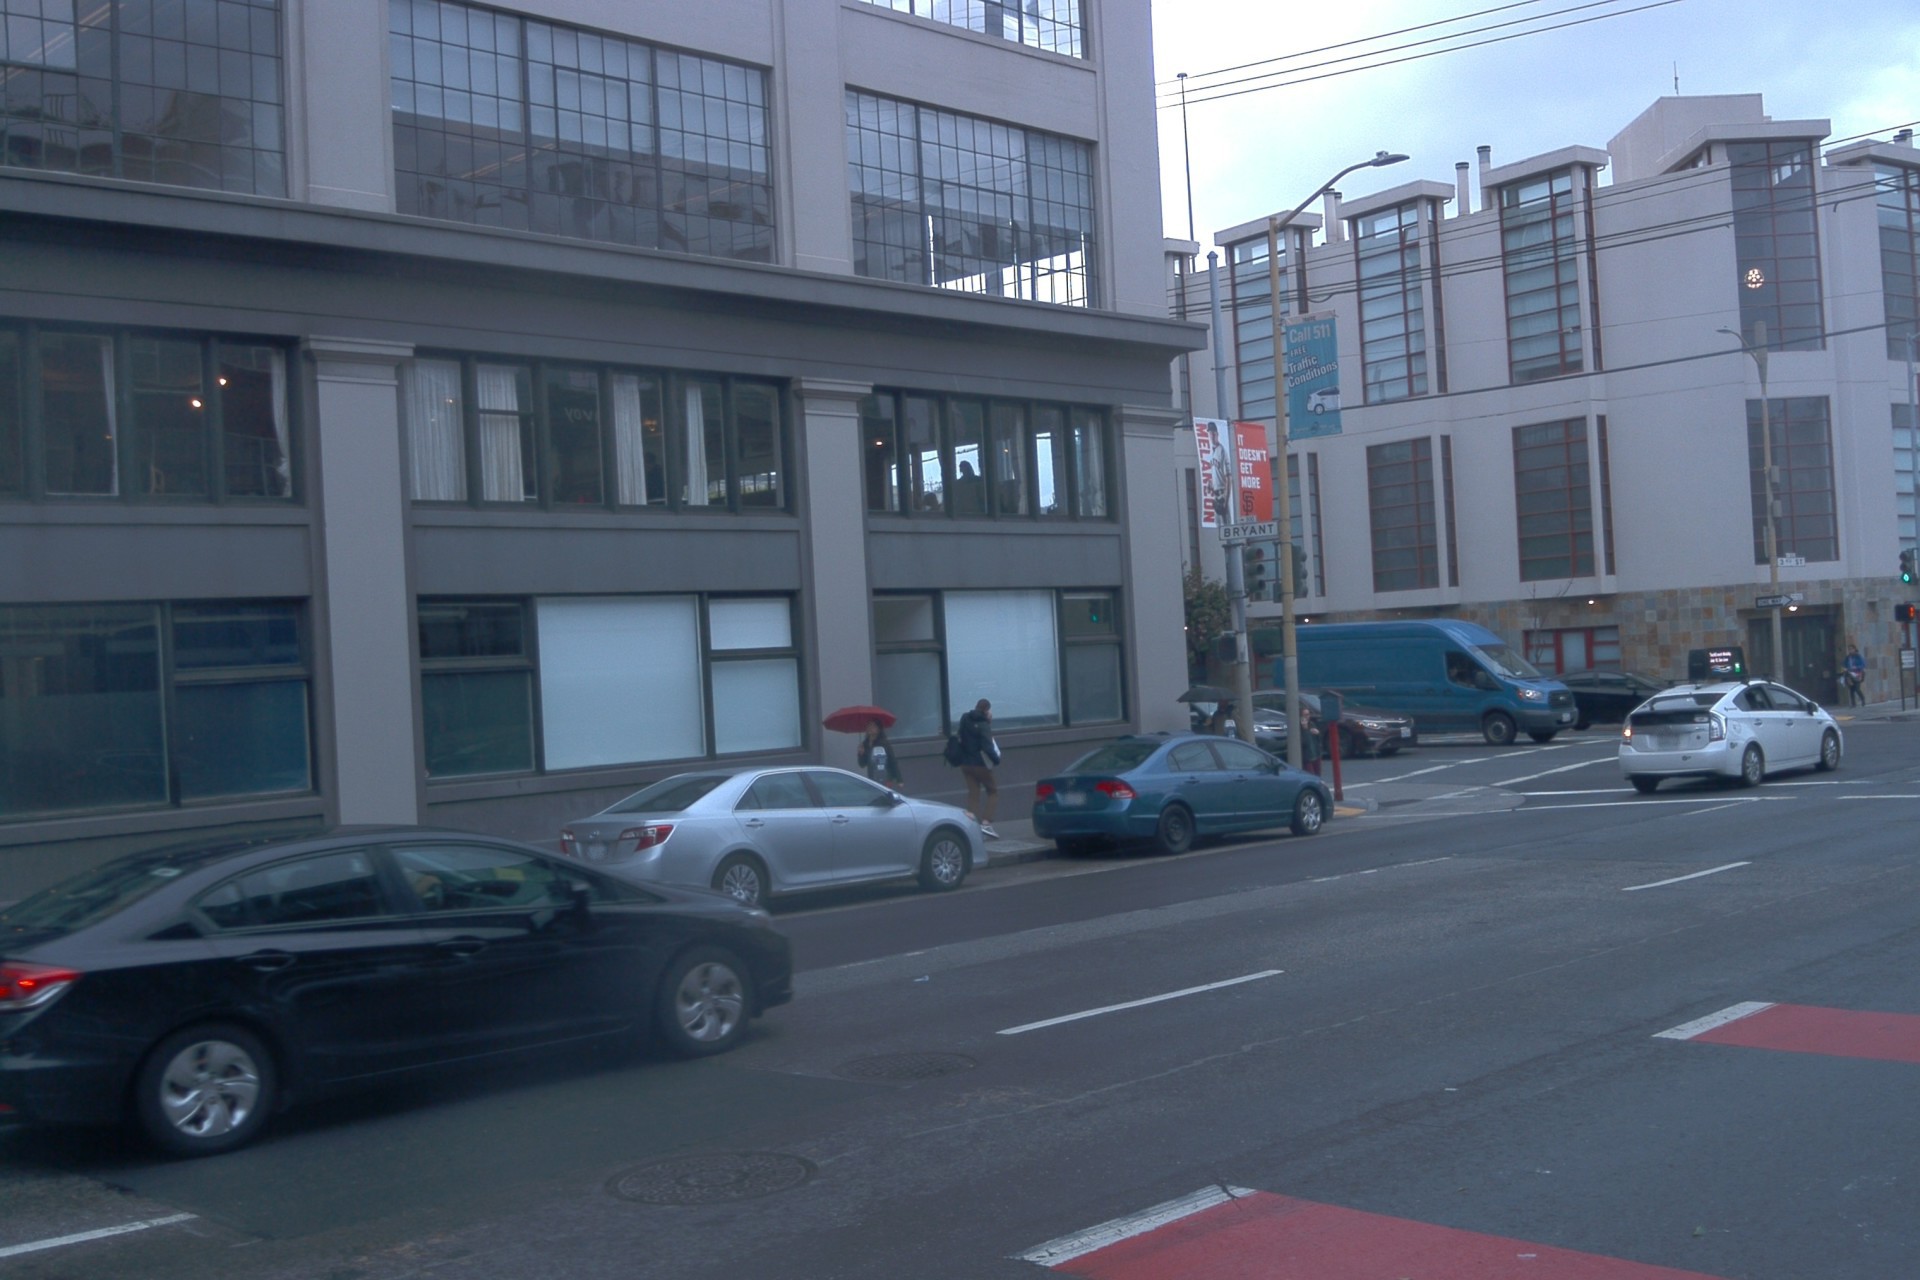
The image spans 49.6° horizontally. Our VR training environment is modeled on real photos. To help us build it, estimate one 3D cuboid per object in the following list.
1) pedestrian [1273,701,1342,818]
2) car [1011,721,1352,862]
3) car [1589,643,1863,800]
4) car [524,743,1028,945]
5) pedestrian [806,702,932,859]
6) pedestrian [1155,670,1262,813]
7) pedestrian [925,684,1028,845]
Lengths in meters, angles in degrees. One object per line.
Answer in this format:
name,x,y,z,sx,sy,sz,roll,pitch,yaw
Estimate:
pedestrian,5.117,1.747,30.631,0.825,1.670,0.591,0,0,-35
car,2.845,1.815,26.005,1.913,1.440,4.430,0,0,44
car,11.183,1.097,30.203,2.037,2.090,4.606,0,0,44
car,-1.742,1.958,21.163,2.014,1.570,4.989,0,0,44
pedestrian,-1.163,1.771,26.584,1.124,1.900,1.157,0,0,44
pedestrian,3.810,1.525,31.871,1.190,2.110,1.132,0,0,-44
pedestrian,0.217,1.567,26.683,0.909,1.990,0.967,0,0,42
